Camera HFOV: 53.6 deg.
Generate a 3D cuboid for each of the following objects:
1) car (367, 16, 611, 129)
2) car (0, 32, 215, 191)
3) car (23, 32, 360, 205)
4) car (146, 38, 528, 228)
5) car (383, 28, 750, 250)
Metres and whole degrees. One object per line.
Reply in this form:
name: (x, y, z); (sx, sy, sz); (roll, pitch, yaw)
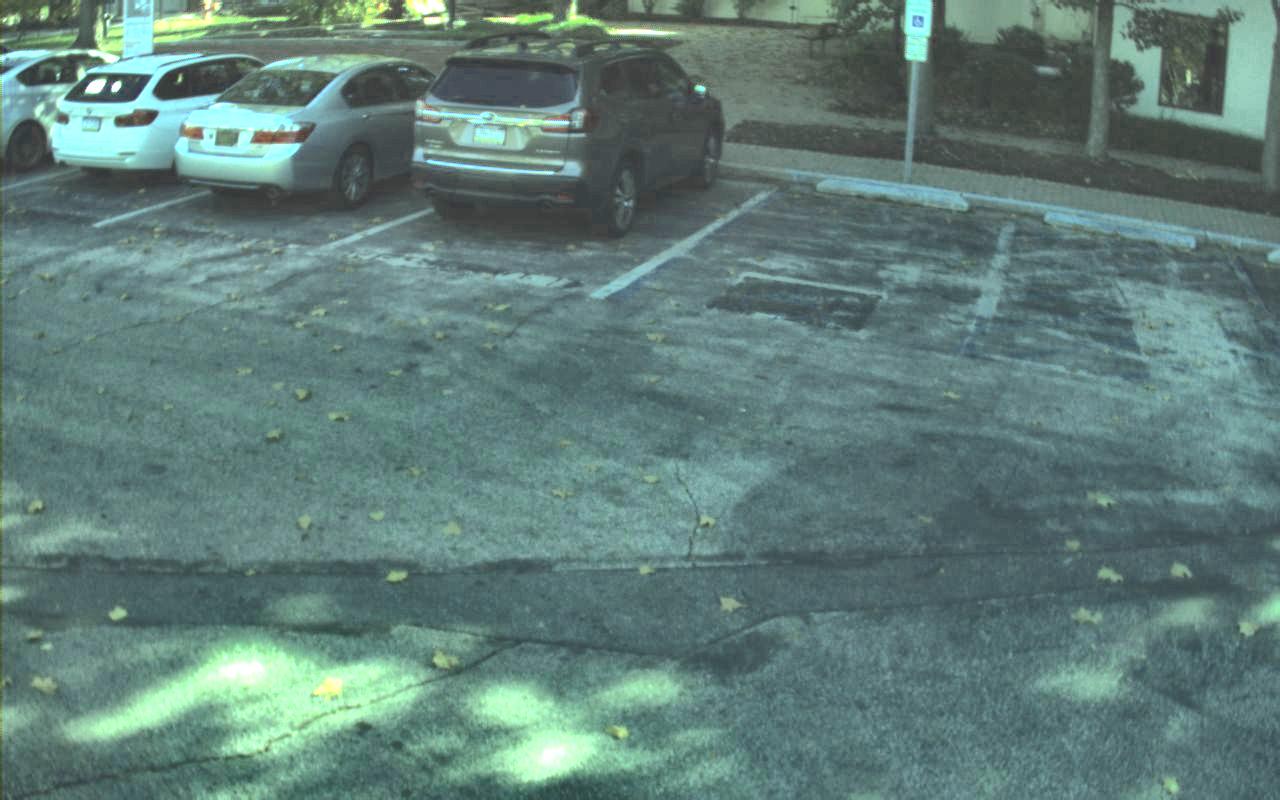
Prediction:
car: (-2.317, -5.390, 19.956); (1.999, 1.592, 4.581); (6, 18, 22)
car: (-7.935, -3.981, 15.328); (1.949, 1.607, 4.462); (5, 18, 21)
car: (-5.429, -3.543, 14.446); (1.937, 1.628, 4.454); (5, 18, 19)
car: (-3.135, -3.014, 13.175); (1.917, 1.579, 4.471); (6, 18, 23)
car: (-0.478, -2.849, 12.598); (2.036, 1.809, 4.802); (5, 18, 19)
